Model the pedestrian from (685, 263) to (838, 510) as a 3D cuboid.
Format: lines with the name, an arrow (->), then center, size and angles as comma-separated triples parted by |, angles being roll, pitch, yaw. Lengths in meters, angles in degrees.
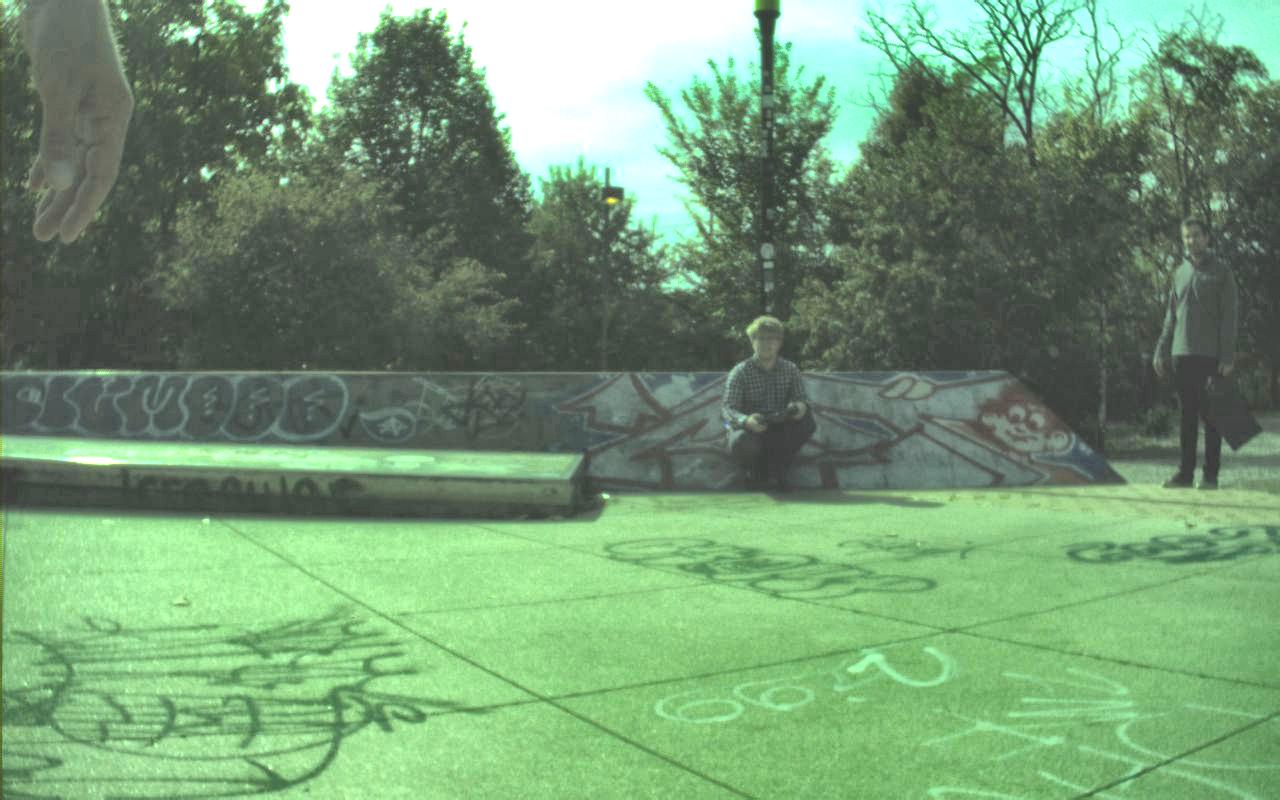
pedestrian -> 0.803, -0.094, 8.079 | 0.869, 1.493, 0.848 | 1, 0, 13

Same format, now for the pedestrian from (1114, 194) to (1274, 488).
pedestrian -> 3.567, -0.351, 7.419 | 0.809, 1.768, 0.815 | 0, 0, -35
